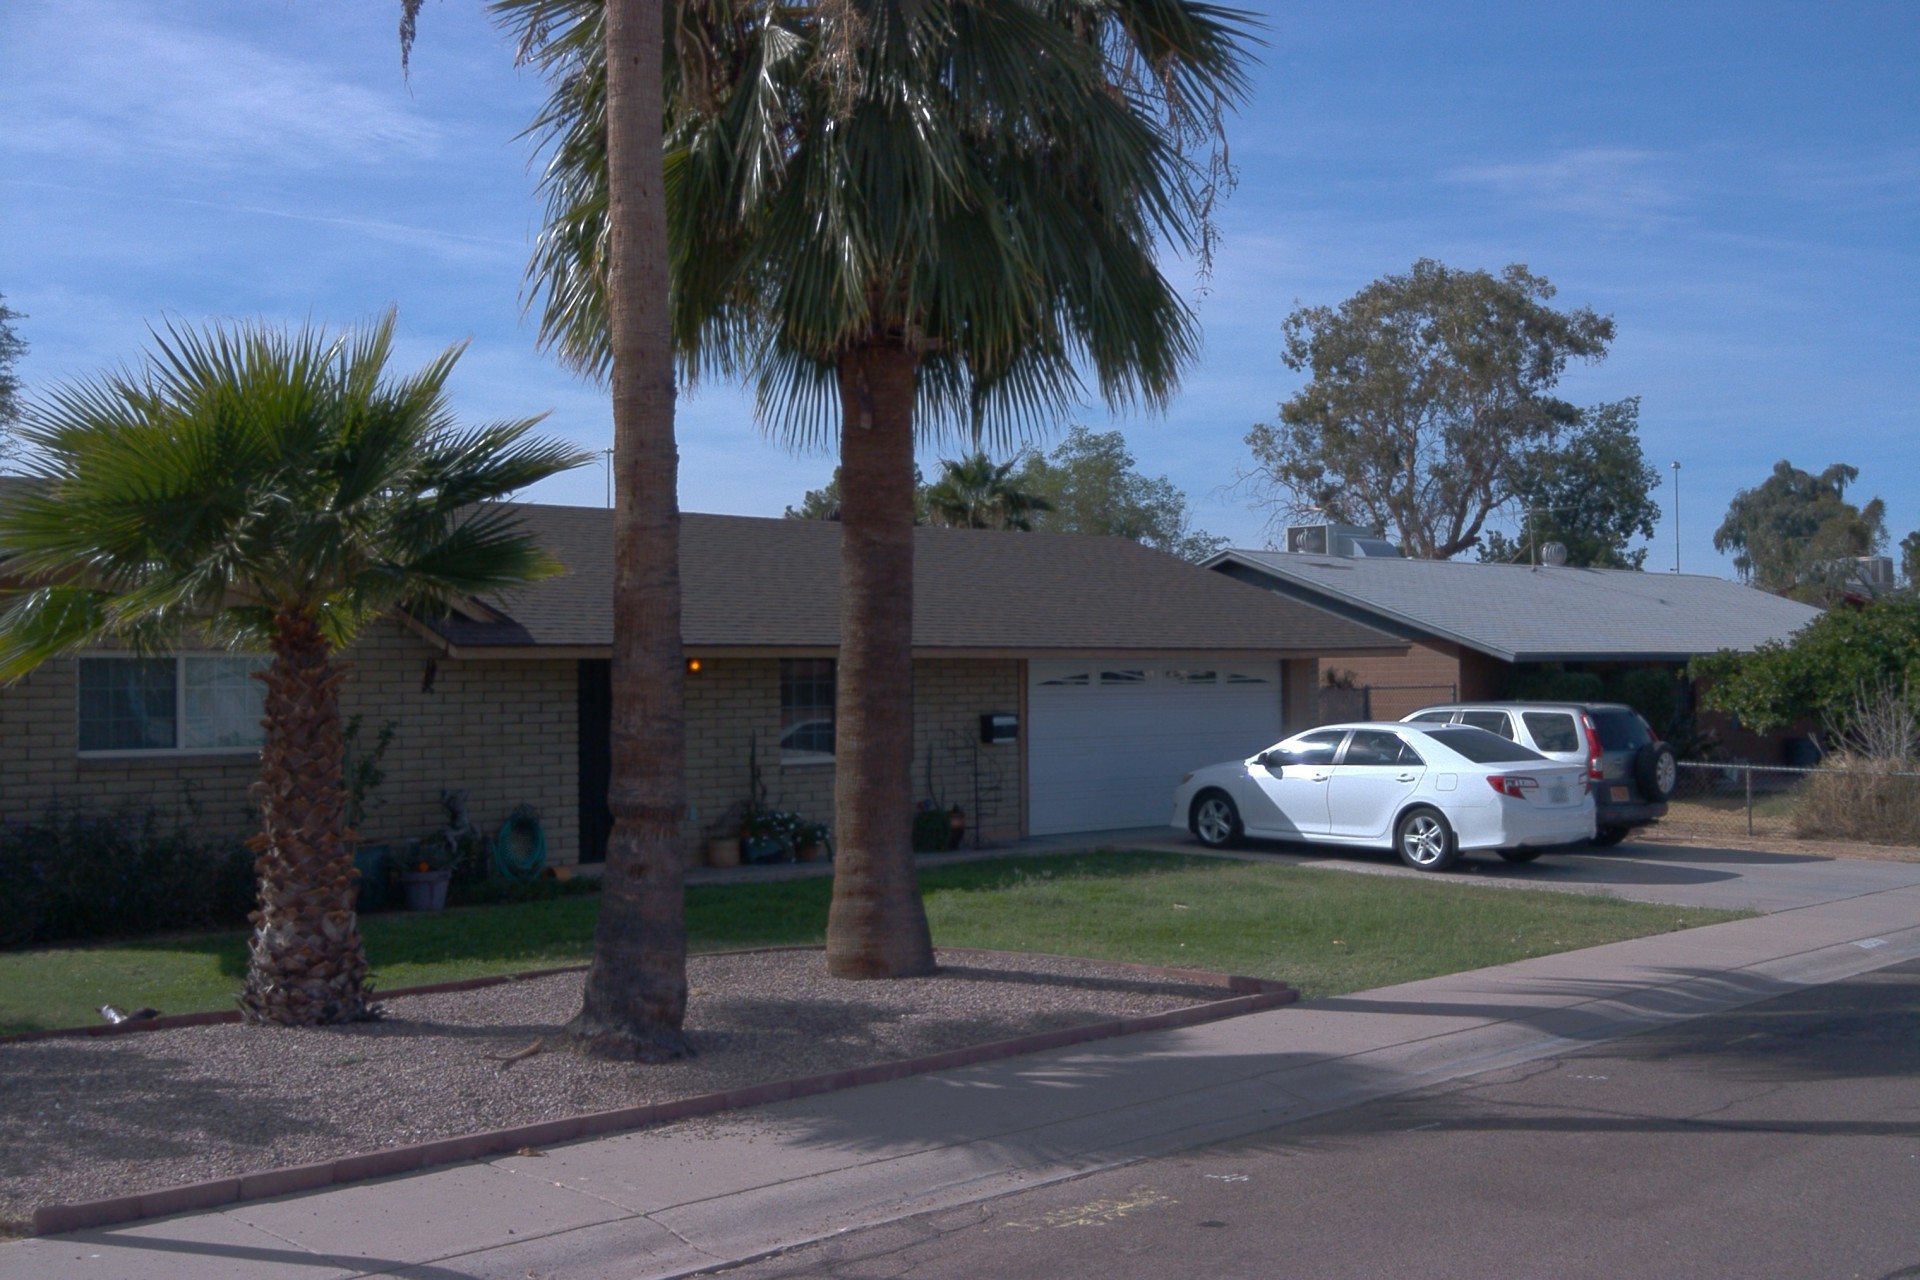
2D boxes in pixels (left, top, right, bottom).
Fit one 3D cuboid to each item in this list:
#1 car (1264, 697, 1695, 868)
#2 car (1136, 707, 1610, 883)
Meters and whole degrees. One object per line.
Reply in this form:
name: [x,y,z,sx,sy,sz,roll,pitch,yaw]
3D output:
car: [5.969,1.564,24.327,2.130,1.710,4.415,1,-1,-45]
car: [4.326,1.566,22.508,2.112,1.580,4.722,1,-1,-41]
